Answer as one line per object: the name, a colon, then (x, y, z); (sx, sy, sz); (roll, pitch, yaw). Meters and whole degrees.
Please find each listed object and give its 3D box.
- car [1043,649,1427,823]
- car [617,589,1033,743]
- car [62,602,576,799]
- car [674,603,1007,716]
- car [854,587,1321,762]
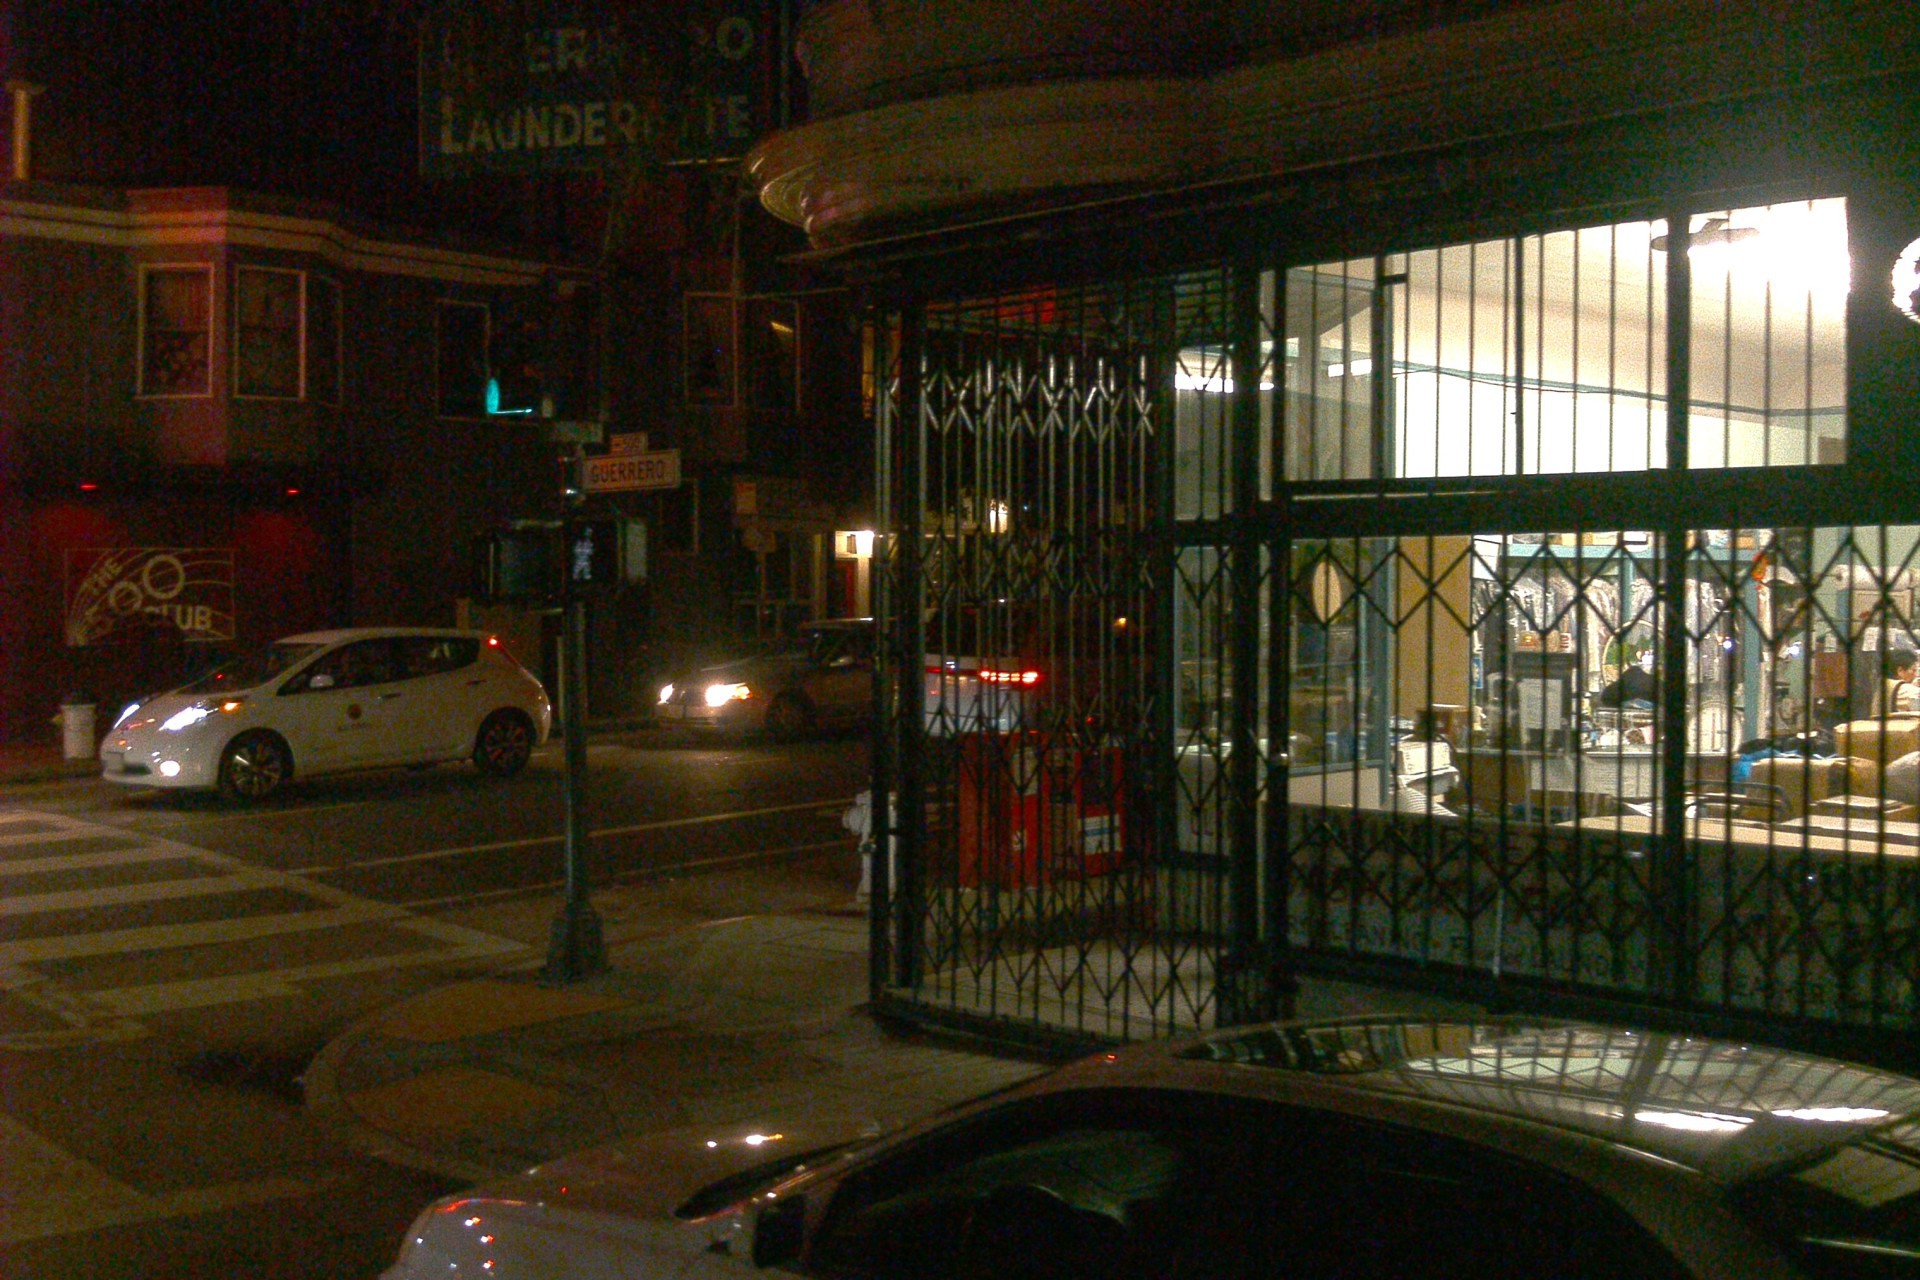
car: (2.578, 0.823, 19.049); (3.504, 1.420, 1.655); (1, 0, -45)
car: (-1.590, 0.311, 25.707); (4.809, 1.720, 2.142); (1, 0, -42)
car: (-6.192, 0.543, 20.461); (1.944, 1.720, 4.426); (1, 0, 43)
car: (-1.681, 0.289, 30.888); (1.884, 1.550, 4.981); (1, 0, 43)
car: (1.538, 0.356, 23.187); (2.380, 1.720, 5.188); (1, 0, 44)
